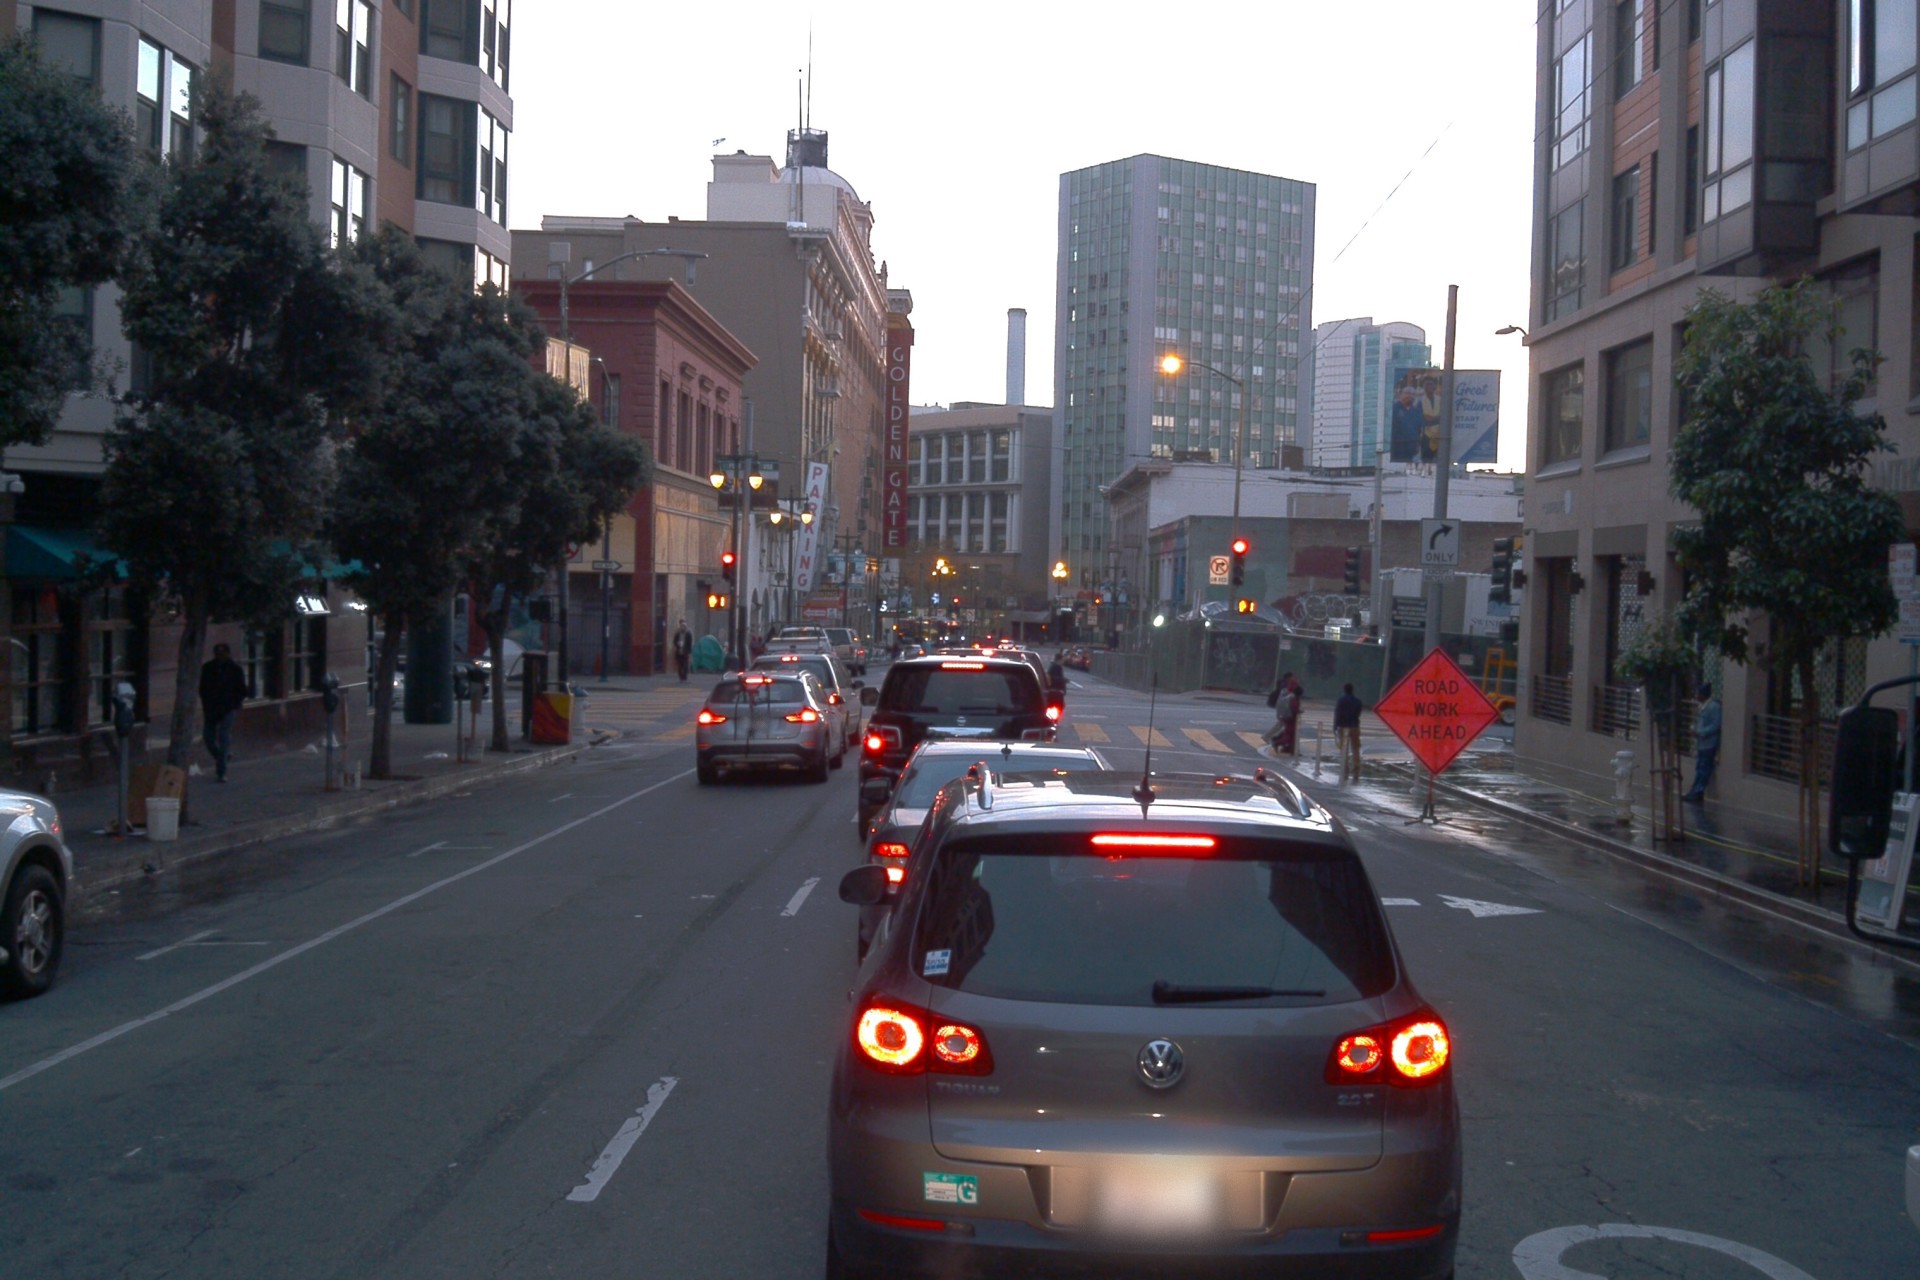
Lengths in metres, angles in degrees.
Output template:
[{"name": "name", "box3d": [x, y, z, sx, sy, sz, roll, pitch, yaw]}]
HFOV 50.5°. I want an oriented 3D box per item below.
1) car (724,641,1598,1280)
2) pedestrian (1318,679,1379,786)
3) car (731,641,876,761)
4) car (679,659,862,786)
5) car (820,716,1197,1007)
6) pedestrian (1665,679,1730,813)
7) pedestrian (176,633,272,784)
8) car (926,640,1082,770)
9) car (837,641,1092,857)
[{"name": "car", "box3d": [0.546, 1.066, 7.023, 2.109, 2.050, 3.981, 1, 1, 2]}, {"name": "pedestrian", "box3d": [6.687, 1.582, 35.068, 0.777, 1.790, 0.924, 1, 1, -3]}, {"name": "car", "box3d": [-2.657, 1.004, 35.547, 1.896, 1.880, 4.462, 1, 1, 4]}, {"name": "car", "box3d": [-2.614, 1.116, 29.081, 2.110, 1.572, 4.118, 1, 1, 1]}, {"name": "car", "box3d": [0.292, 1.326, 13.592, 2.089, 1.400, 4.279, 1, 1, 1]}, {"name": "pedestrian", "box3d": [10.762, 1.538, 29.715, 0.659, 1.890, 0.755, 1, 1, 4]}, {"name": "pedestrian", "box3d": [-9.369, 0.856, 25.940, 0.828, 1.860, 1.059, 1, 1, -2]}, {"name": "car", "box3d": [0.622, 0.861, 29.391, 2.036, 1.650, 4.678, 1, 1, 1]}, {"name": "car", "box3d": [0.036, 1.033, 21.904, 2.368, 1.940, 5.339, 1, 1, 0]}]
